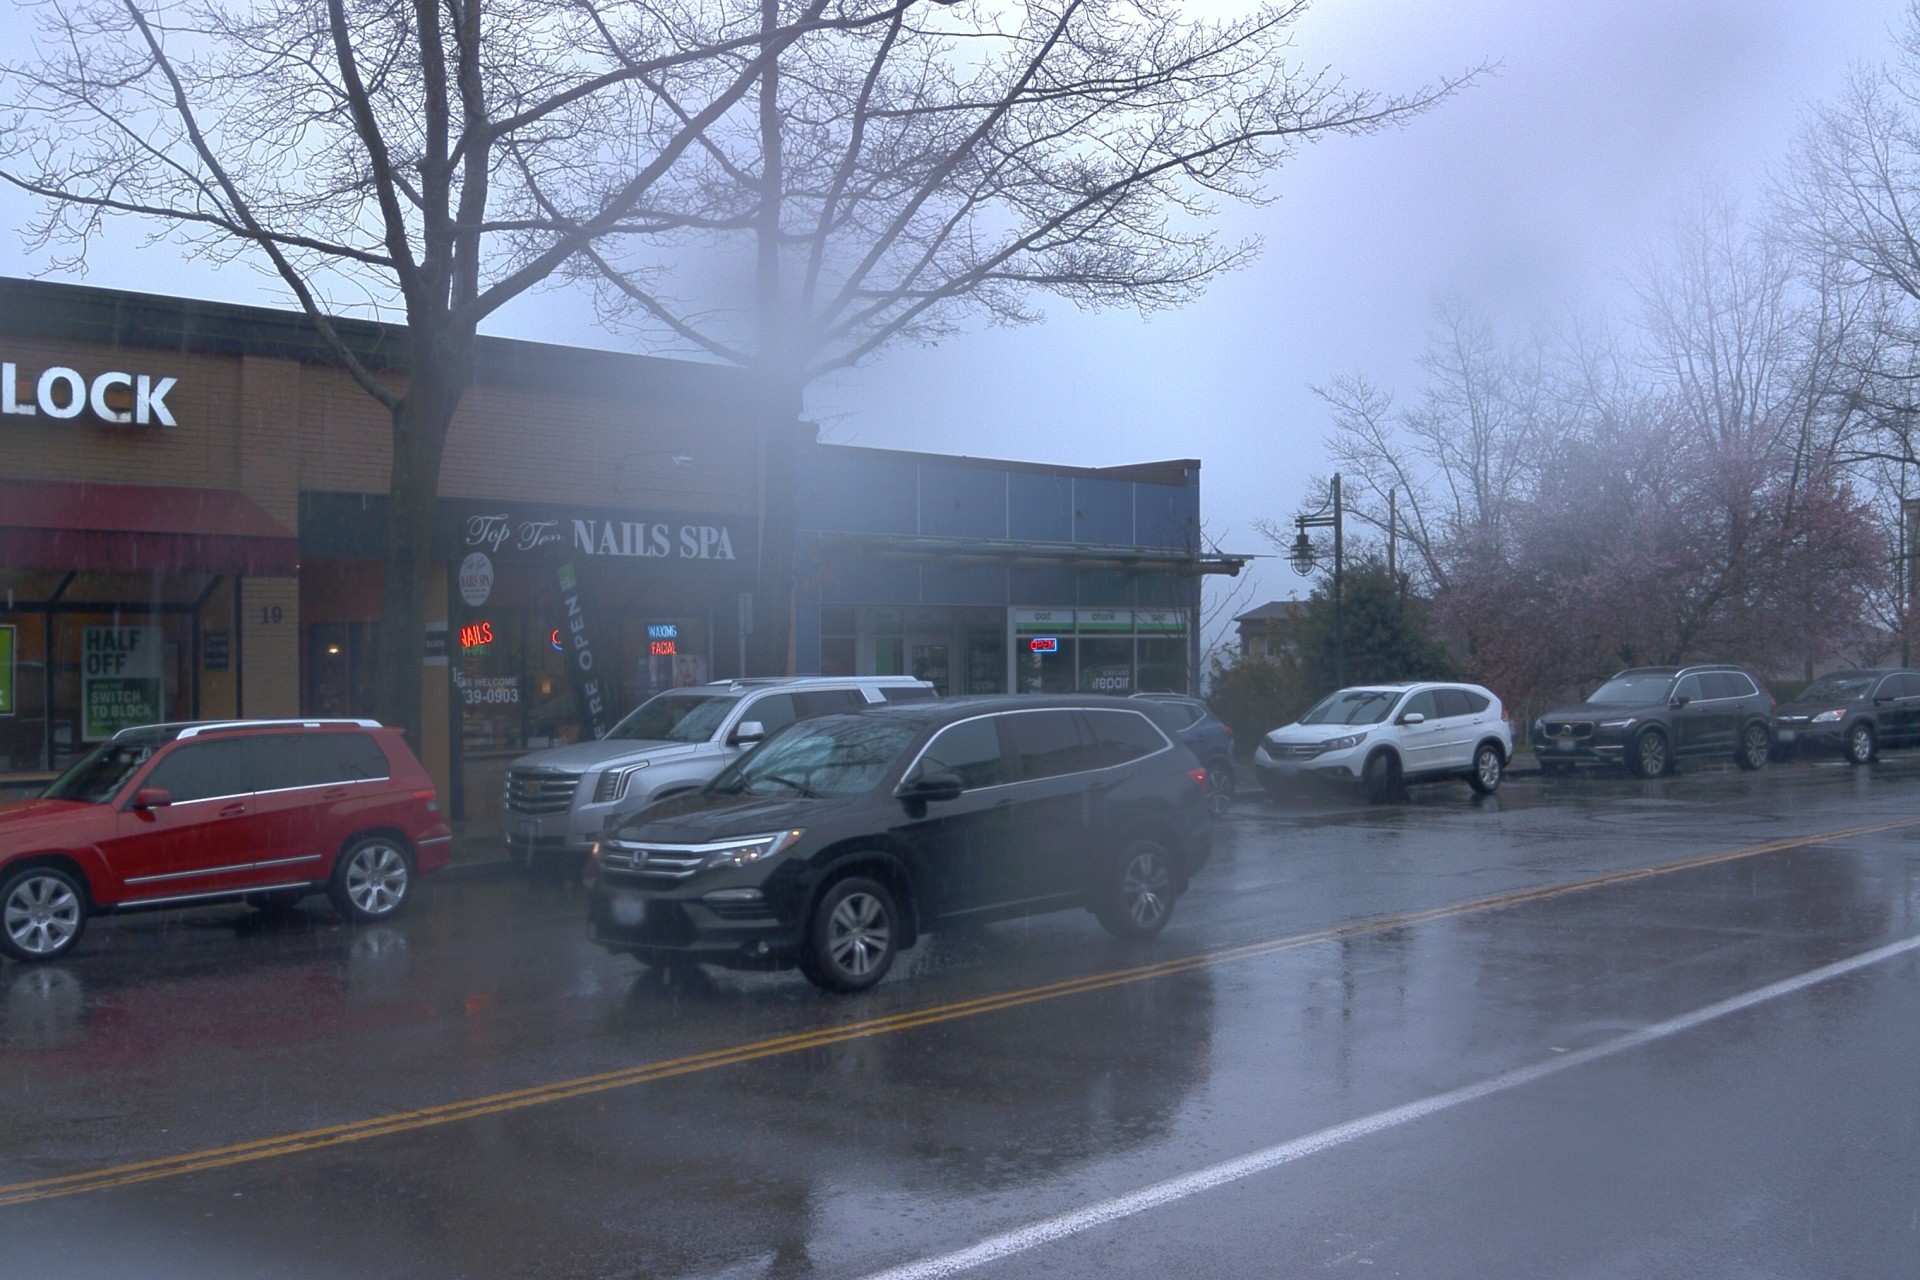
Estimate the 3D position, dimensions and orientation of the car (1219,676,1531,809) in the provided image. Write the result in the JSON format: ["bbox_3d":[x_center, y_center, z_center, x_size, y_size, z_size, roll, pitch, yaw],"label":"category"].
[{"bbox_3d":[6.002,1.399,29.598,4.481,1.610,2.181,-1,1,-43],"label":"car"}]

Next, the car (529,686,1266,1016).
[{"bbox_3d":[-0.217,1.261,14.368,2.073,1.690,5.207,1,1,43],"label":"car"}]

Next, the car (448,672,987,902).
[{"bbox_3d":[-2.320,1.353,21.042,2.331,1.890,5.194,1,1,42],"label":"car"}]

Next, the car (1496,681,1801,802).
[{"bbox_3d":[11.416,1.598,34.052,5.296,1.690,2.144,-1,1,-37],"label":"car"}]
